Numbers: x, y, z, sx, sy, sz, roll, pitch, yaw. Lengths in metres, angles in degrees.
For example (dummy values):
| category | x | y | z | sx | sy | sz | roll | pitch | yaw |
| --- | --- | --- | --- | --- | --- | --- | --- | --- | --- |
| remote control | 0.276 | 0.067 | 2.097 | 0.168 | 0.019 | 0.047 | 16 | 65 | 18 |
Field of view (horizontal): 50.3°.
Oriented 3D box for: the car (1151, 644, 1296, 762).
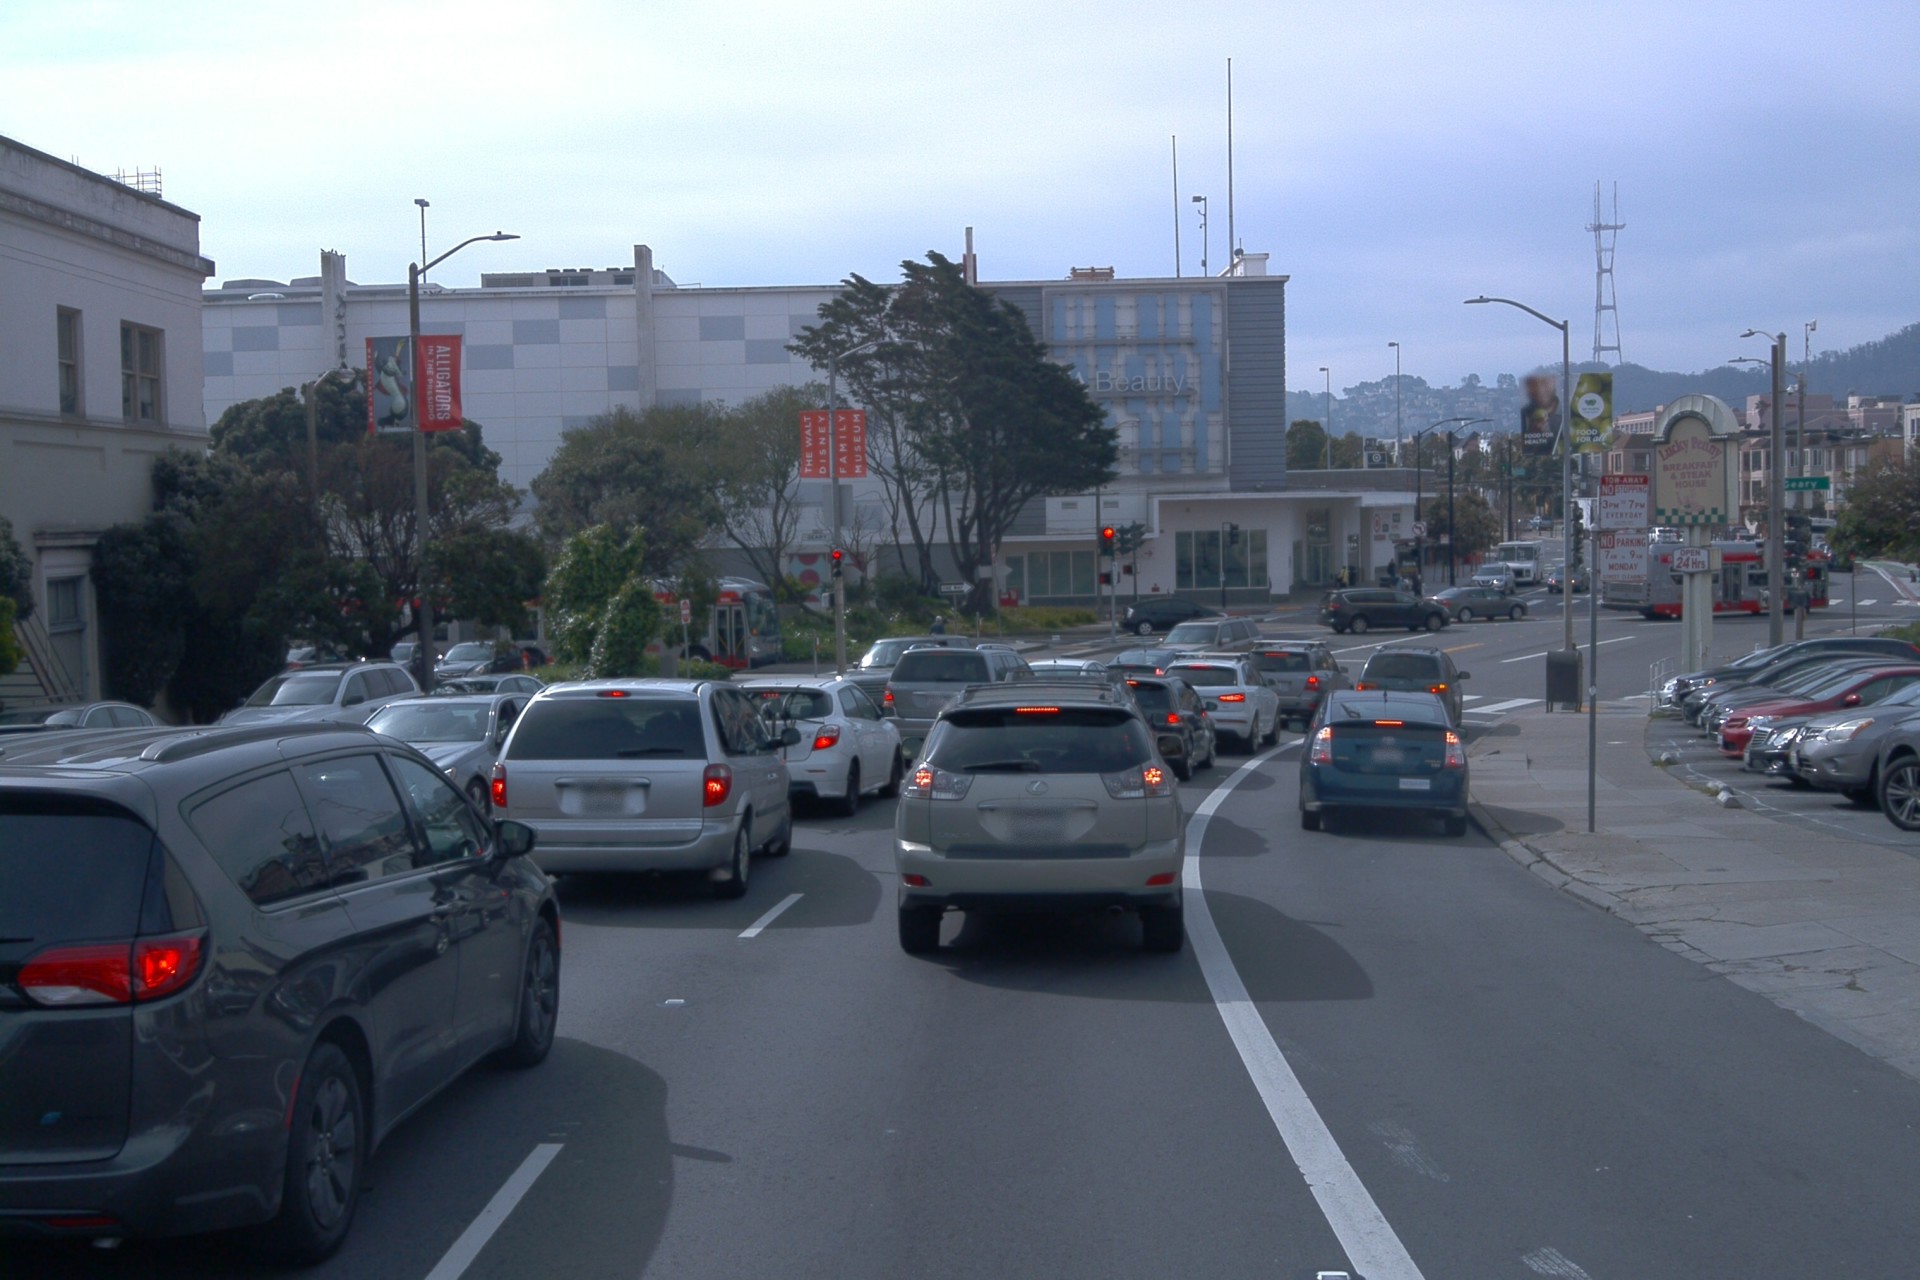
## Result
| category | x | y | z | sx | sy | sz | roll | pitch | yaw |
| --- | --- | --- | --- | --- | --- | --- | --- | --- | --- |
| car | 4.607 | 1.023 | 35.337 | 1.795 | 1.880 | 4.044 | 1 | 0 | 17 |

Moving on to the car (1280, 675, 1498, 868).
| category | x | y | z | sx | sy | sz | roll | pitch | yaw |
| --- | --- | --- | --- | --- | --- | --- | --- | --- | --- |
| car | 4.677 | 1.344 | 22.691 | 2.113 | 1.790 | 4.646 | 1 | 0 | 10 |

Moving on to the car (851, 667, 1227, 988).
| category | x | y | z | sx | sy | sz | roll | pitch | yaw |
| --- | --- | --- | --- | --- | --- | --- | --- | --- | --- |
| car | 0.558 | 1.133 | 14.282 | 2.197 | 1.780 | 4.467 | 1 | 0 | 3 |

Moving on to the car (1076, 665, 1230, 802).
| category | x | y | z | sx | sy | sz | roll | pitch | yaw |
| --- | --- | --- | --- | --- | --- | --- | --- | --- | --- |
| car | 2.874 | 1.287 | 29.781 | 1.526 | 1.780 | 3.939 | 1 | 0 | 16 |

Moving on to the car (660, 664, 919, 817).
| category | x | y | z | sx | sy | sz | roll | pitch | yaw |
| --- | --- | --- | --- | --- | --- | --- | --- | --- | --- |
| car | -1.865 | 1.083 | 23.819 | 1.982 | 1.530 | 4.306 | 1 | 0 | 10 |

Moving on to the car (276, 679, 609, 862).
| category | x | y | z | sx | sy | sz | roll | pitch | yaw |
| --- | --- | --- | --- | --- | --- | --- | --- | --- | --- |
| car | -5.385 | 1.298 | 21.993 | 2.074 | 1.620 | 4.697 | 1 | 0 | 5 |

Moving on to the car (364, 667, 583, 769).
| category | x | y | z | sx | sy | sz | roll | pitch | yaw |
| --- | --- | --- | --- | --- | --- | --- | --- | --- | --- |
| car | -8.801 | 1.370 | 37.456 | 1.977 | 1.640 | 4.663 | 1 | 0 | 14 |

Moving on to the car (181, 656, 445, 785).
| category | x | y | z | sx | sy | sz | roll | pitch | yaw |
| --- | --- | --- | --- | --- | --- | --- | --- | --- | --- |
| car | -10.085 | 1.187 | 32.332 | 2.060 | 1.800 | 4.806 | 1 | 0 | 9 |

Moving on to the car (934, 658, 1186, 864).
| category | x | y | z | sx | sy | sz | roll | pitch | yaw |
| --- | --- | --- | --- | --- | --- | --- | --- | --- | --- |
| car | 1.182 | 1.160 | 21.618 | 2.119 | 1.870 | 4.391 | 1 | 0 | 10 |

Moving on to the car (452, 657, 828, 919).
| category | x | y | z | sx | sy | sz | roll | pitch | yaw |
| --- | --- | --- | --- | --- | --- | --- | --- | --- | --- |
| car | -2.501 | 1.099 | 17.292 | 2.131 | 1.830 | 4.635 | 1 | 0 | 4 |

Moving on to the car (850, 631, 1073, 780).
| category | x | y | z | sx | sy | sz | roll | pitch | yaw |
| --- | --- | --- | --- | --- | --- | --- | --- | --- | --- |
| car | 0.135 | 0.921 | 31.620 | 2.236 | 2.100 | 4.827 | 1 | 0 | 16 |
